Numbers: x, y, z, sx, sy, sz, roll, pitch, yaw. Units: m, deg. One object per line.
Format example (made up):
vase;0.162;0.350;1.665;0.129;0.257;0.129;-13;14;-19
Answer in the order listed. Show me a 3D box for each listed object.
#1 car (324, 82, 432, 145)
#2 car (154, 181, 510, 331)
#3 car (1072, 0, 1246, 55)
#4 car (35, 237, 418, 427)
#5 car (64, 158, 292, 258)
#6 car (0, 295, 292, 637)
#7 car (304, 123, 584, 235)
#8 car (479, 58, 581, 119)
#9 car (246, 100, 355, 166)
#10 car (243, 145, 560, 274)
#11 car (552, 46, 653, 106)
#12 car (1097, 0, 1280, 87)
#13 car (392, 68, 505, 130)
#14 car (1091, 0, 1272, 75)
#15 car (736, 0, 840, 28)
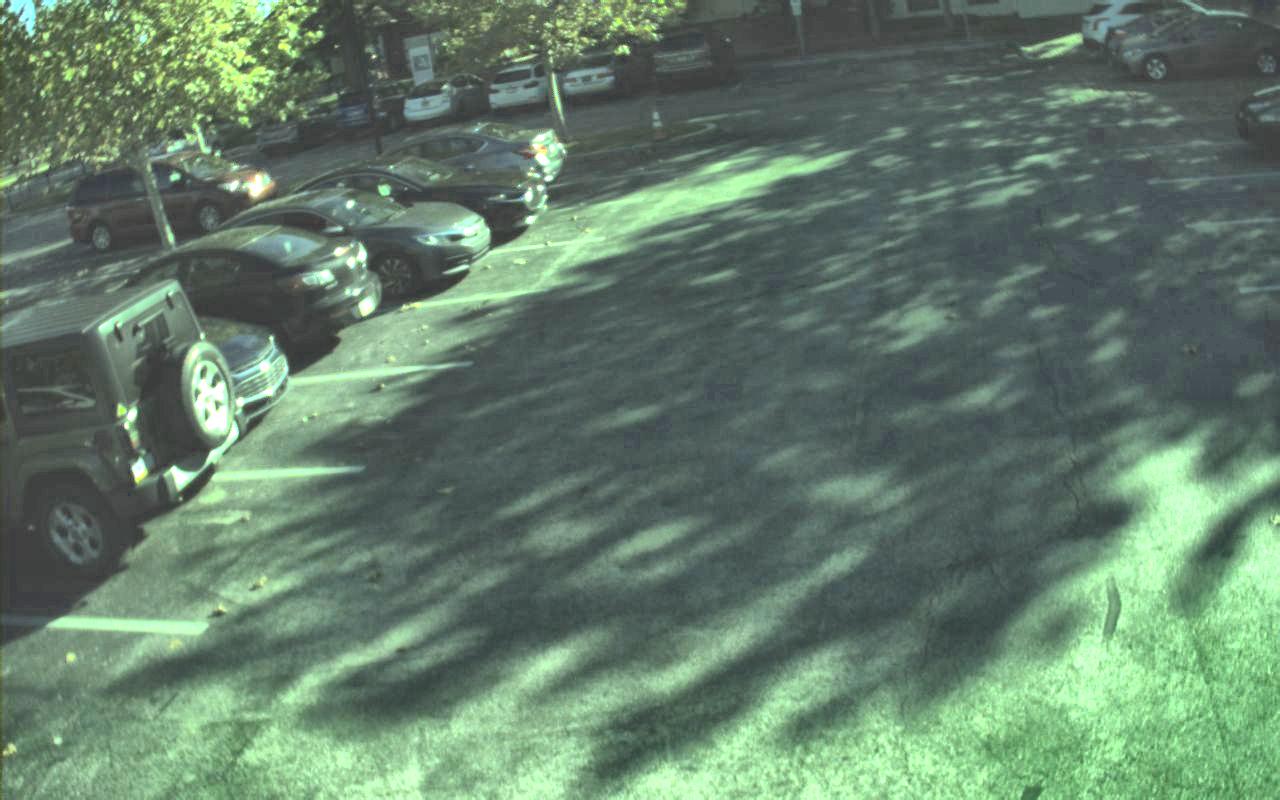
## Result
car;-8.521;-9.377;39.872;1.964;1.655;4.525;2;17;11
car;-4.098;-1.950;16.181;4.367;1.559;1.939;2;17;12
car;13.423;-9.867;29.267;4.467;1.671;1.983;2;16;10
car;-4.951;-0.919;14.048;4.327;1.597;1.949;4;17;18
car;-10.061;-4.092;25.431;4.770;1.725;2.041;2;17;11
car;-5.334;0.334;9.030;4.680;1.898;2.059;2;16;11
car;-3.322;-3.756;21.029;4.364;1.614;1.947;2;17;11
car;-3.368;-9.736;38.471;1.960;1.651;4.522;2;17;11
car;-11.275;-8.905;40.177;1.972;1.673;4.548;2;17;9
car;-3.546;-2.858;18.479;4.383;1.584;1.945;1;16;8
car;-1.055;-9.807;37.307;1.949;1.623;4.491;3;17;13
car;12.340;-7.859;24.734;4.552;1.592;1.980;3;17;12
car;-6.047;-9.602;39.132;1.958;1.649;4.511;3;17;14
car;12.947;-8.687;26.952;4.360;1.585;1.948;3;17;14
car;6.861;-17.972;56.091;4.674;1.658;2.004;2;17;10
